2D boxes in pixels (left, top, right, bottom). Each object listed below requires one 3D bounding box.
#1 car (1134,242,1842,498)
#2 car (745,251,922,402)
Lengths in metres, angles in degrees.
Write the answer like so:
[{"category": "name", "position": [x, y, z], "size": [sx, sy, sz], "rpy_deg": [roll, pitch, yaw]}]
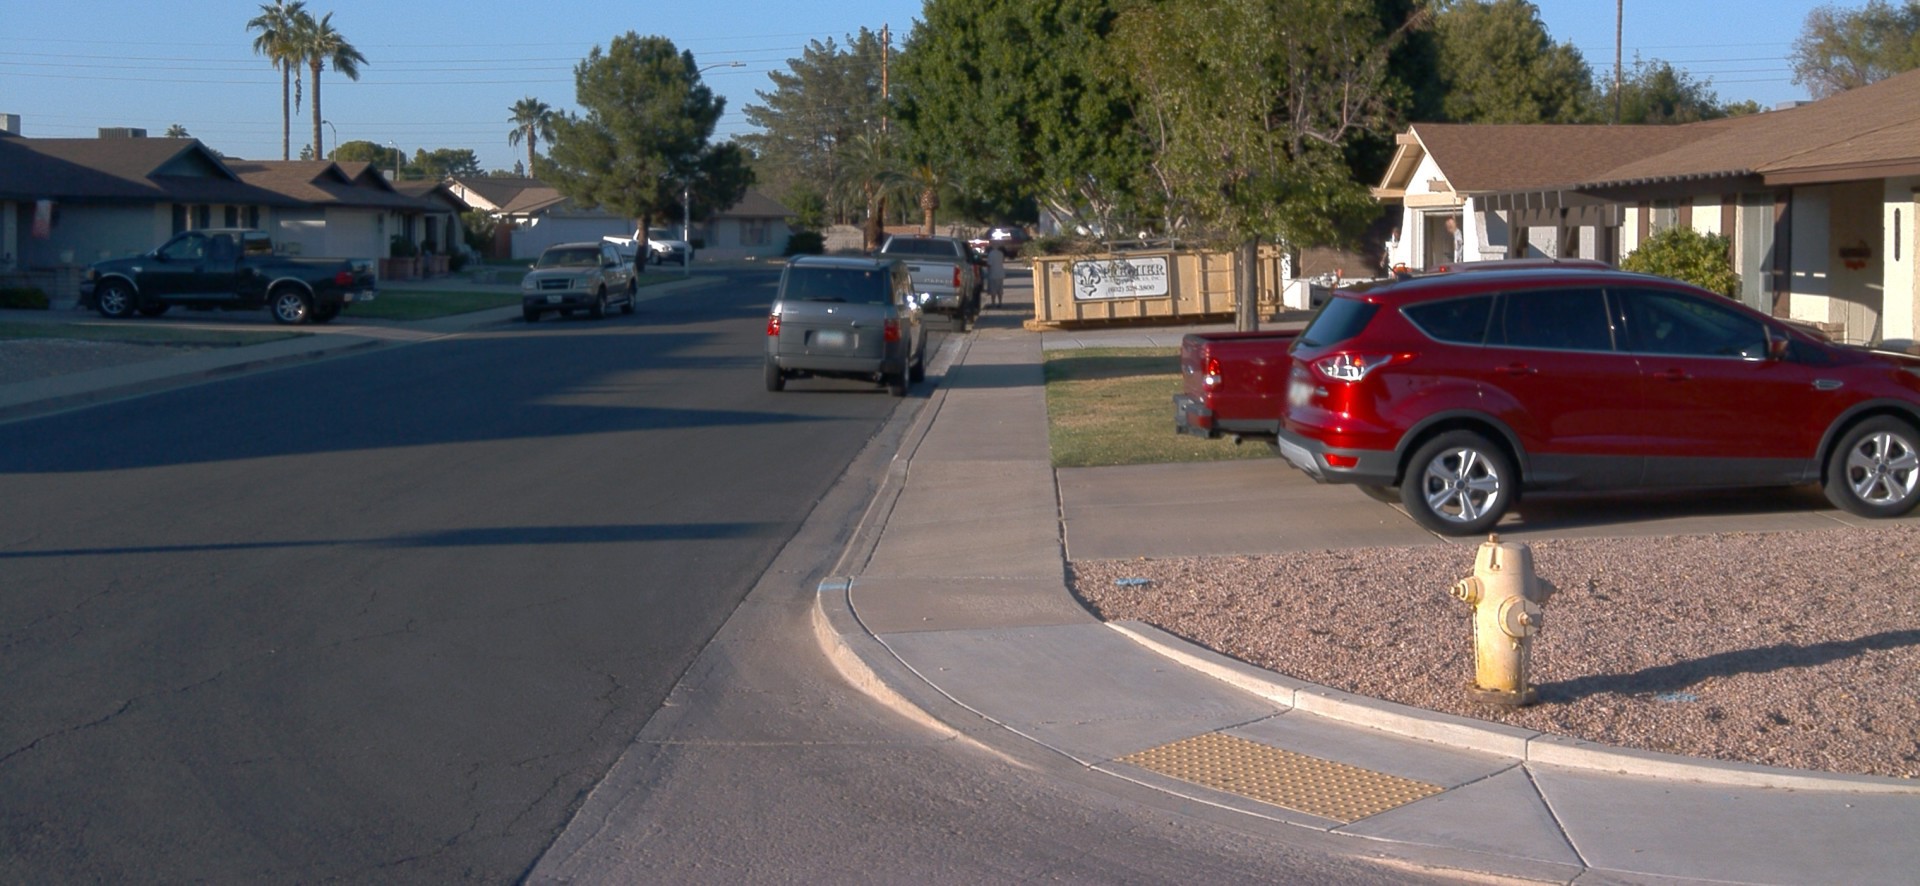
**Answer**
[{"category": "car", "position": [4.089, -0.648, 16.745], "size": [5.203, 1.895, 2.005], "rpy_deg": [0, 4, 0]}, {"category": "car", "position": [-1.624, -1.647, 28.003], "size": [1.967, 1.802, 4.143], "rpy_deg": [0, 5, 2]}]
